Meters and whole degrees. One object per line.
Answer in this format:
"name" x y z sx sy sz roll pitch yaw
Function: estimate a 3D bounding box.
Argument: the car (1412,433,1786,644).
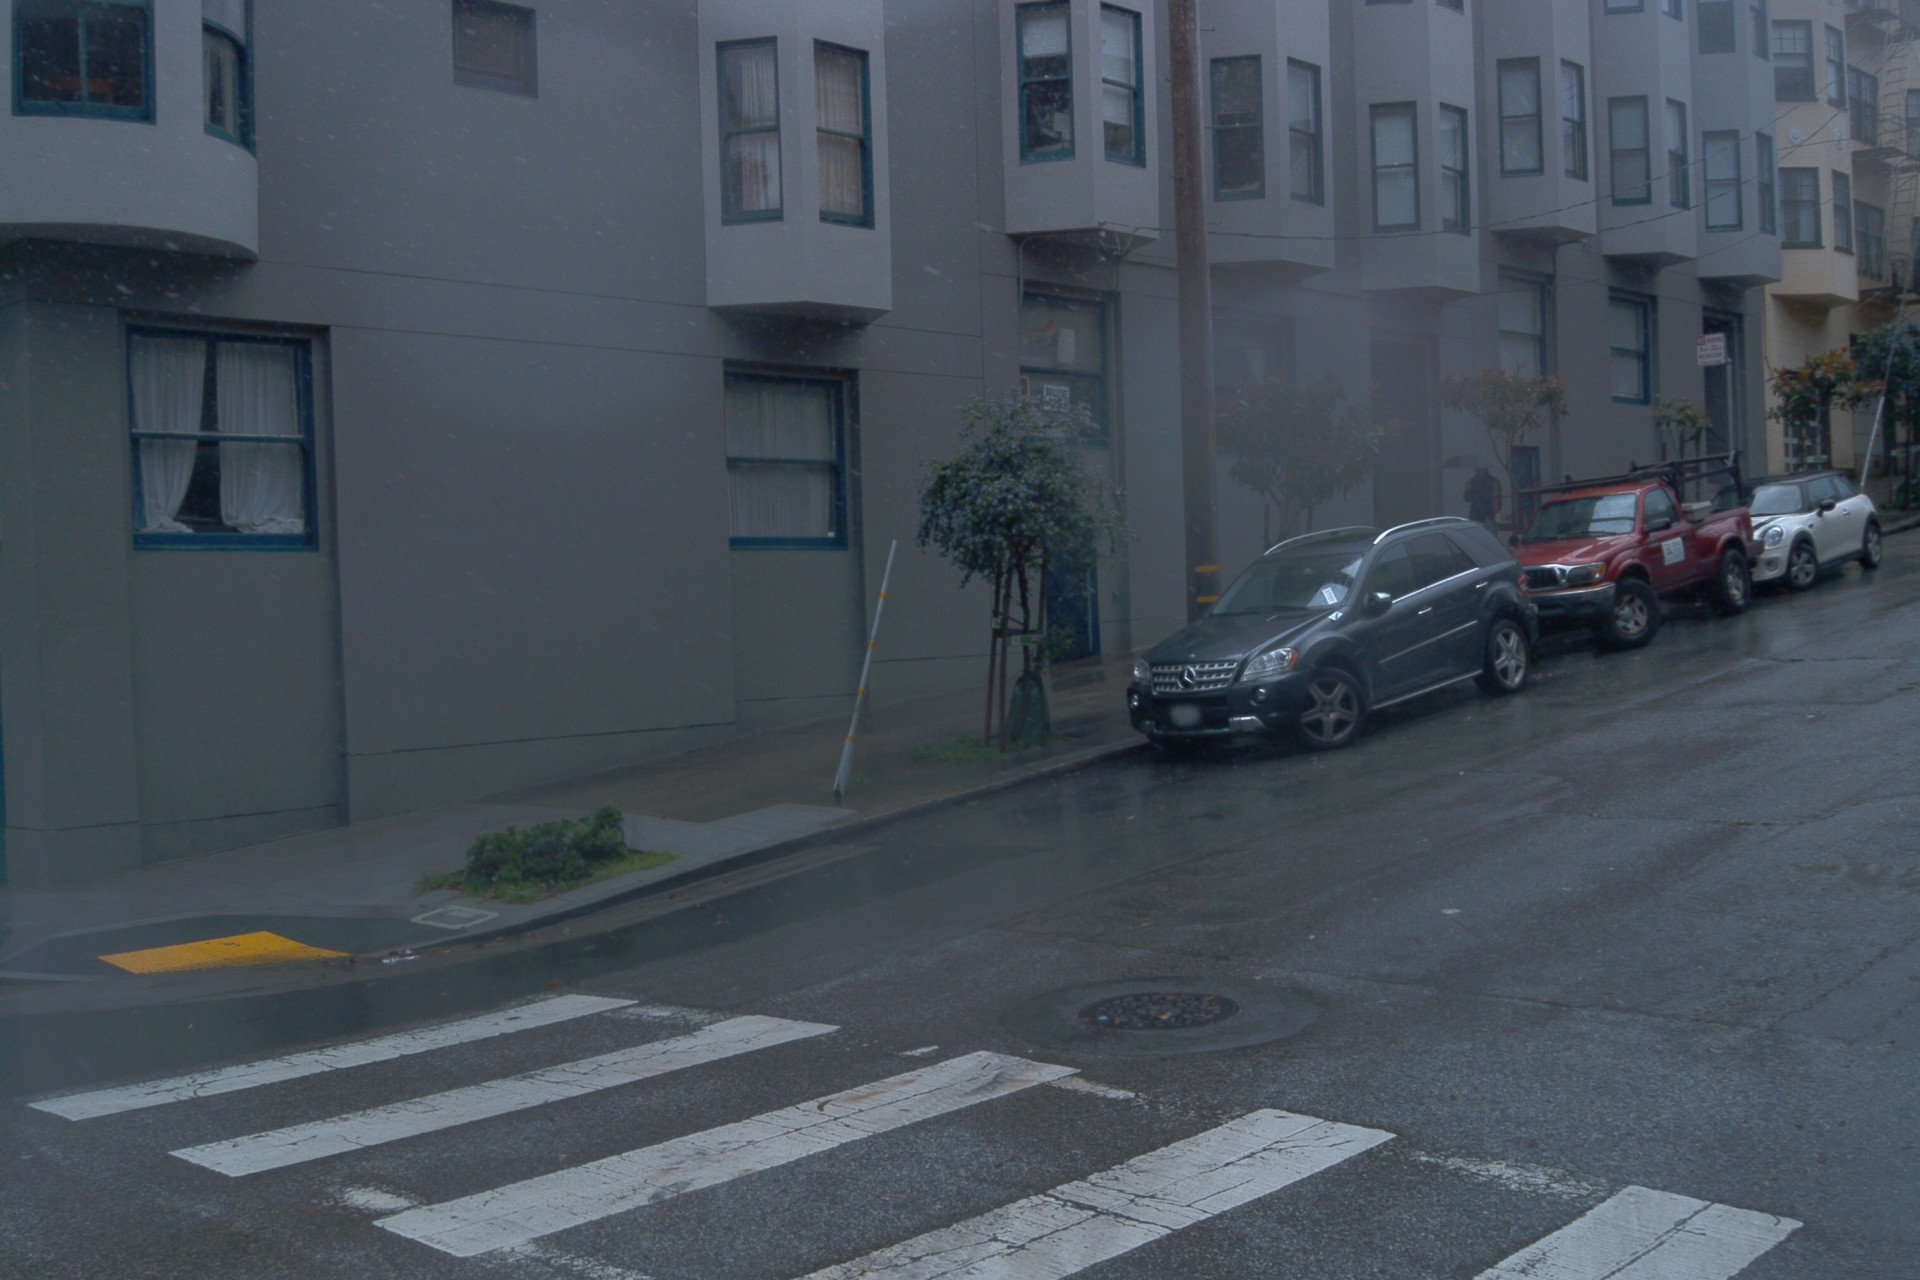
"car" 7.445 -1.048 23.561 2.259 2.180 4.537 0 0 45

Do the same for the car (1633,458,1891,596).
"car" 10.635 -1.425 26.975 1.916 1.580 3.779 0 0 43

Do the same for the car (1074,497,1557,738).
"car" 3.456 -0.179 19.230 2.225 1.980 4.671 0 0 44
